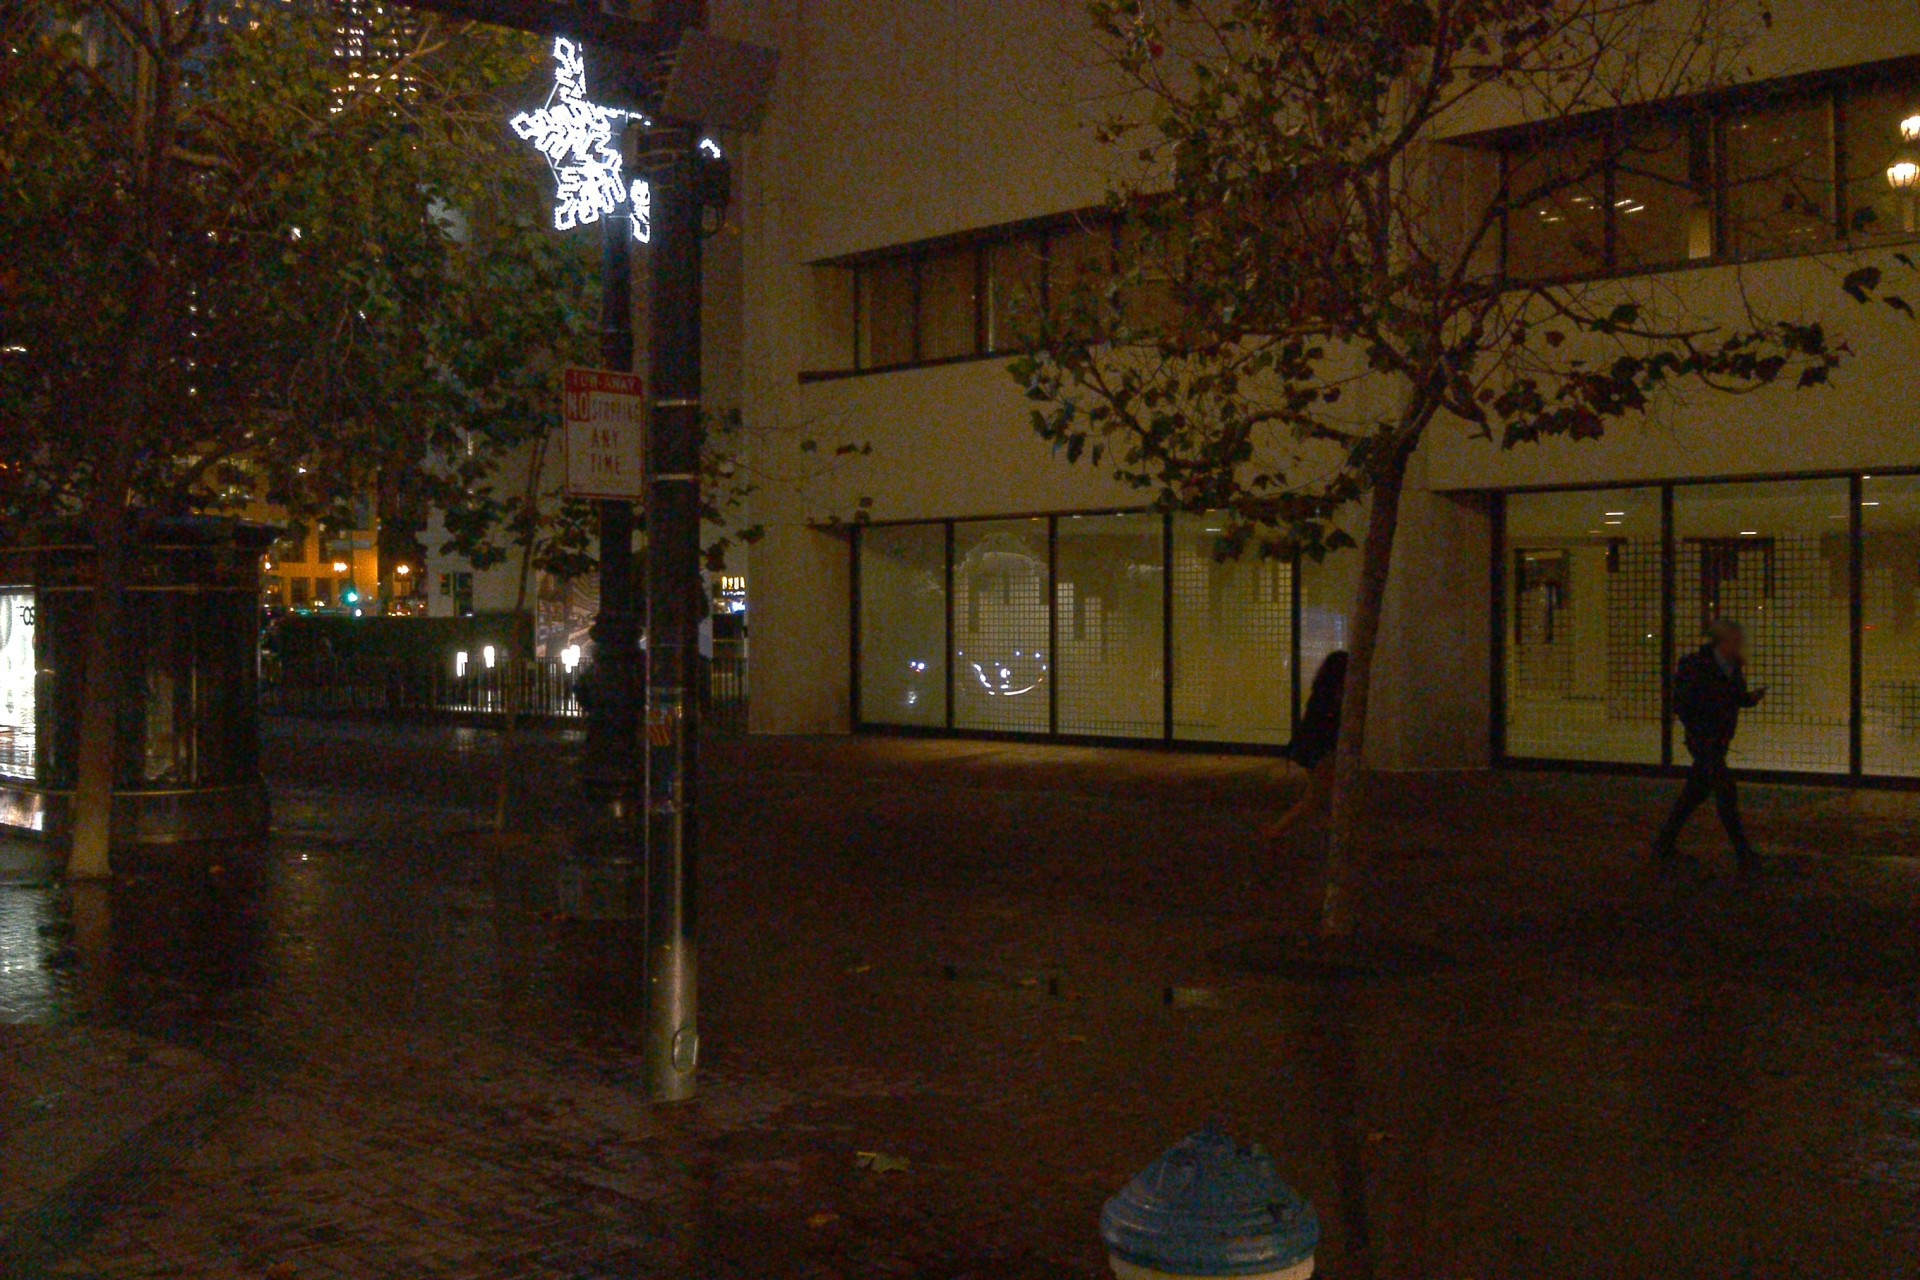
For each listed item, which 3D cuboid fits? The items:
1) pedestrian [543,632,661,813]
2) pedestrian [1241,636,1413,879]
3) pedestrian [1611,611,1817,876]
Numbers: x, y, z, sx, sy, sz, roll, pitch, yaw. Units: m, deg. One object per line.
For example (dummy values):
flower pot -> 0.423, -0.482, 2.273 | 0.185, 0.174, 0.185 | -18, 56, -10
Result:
pedestrian -> -3.659, 0.815, 20.903 | 0.860, 1.780, 1.103 | 1, 0, -29
pedestrian -> 2.795, 0.862, 15.618 | 1.050, 1.780, 0.729 | 0, 0, 43
pedestrian -> 5.449, 0.714, 14.833 | 0.841, 1.830, 1.114 | 1, 0, -37
